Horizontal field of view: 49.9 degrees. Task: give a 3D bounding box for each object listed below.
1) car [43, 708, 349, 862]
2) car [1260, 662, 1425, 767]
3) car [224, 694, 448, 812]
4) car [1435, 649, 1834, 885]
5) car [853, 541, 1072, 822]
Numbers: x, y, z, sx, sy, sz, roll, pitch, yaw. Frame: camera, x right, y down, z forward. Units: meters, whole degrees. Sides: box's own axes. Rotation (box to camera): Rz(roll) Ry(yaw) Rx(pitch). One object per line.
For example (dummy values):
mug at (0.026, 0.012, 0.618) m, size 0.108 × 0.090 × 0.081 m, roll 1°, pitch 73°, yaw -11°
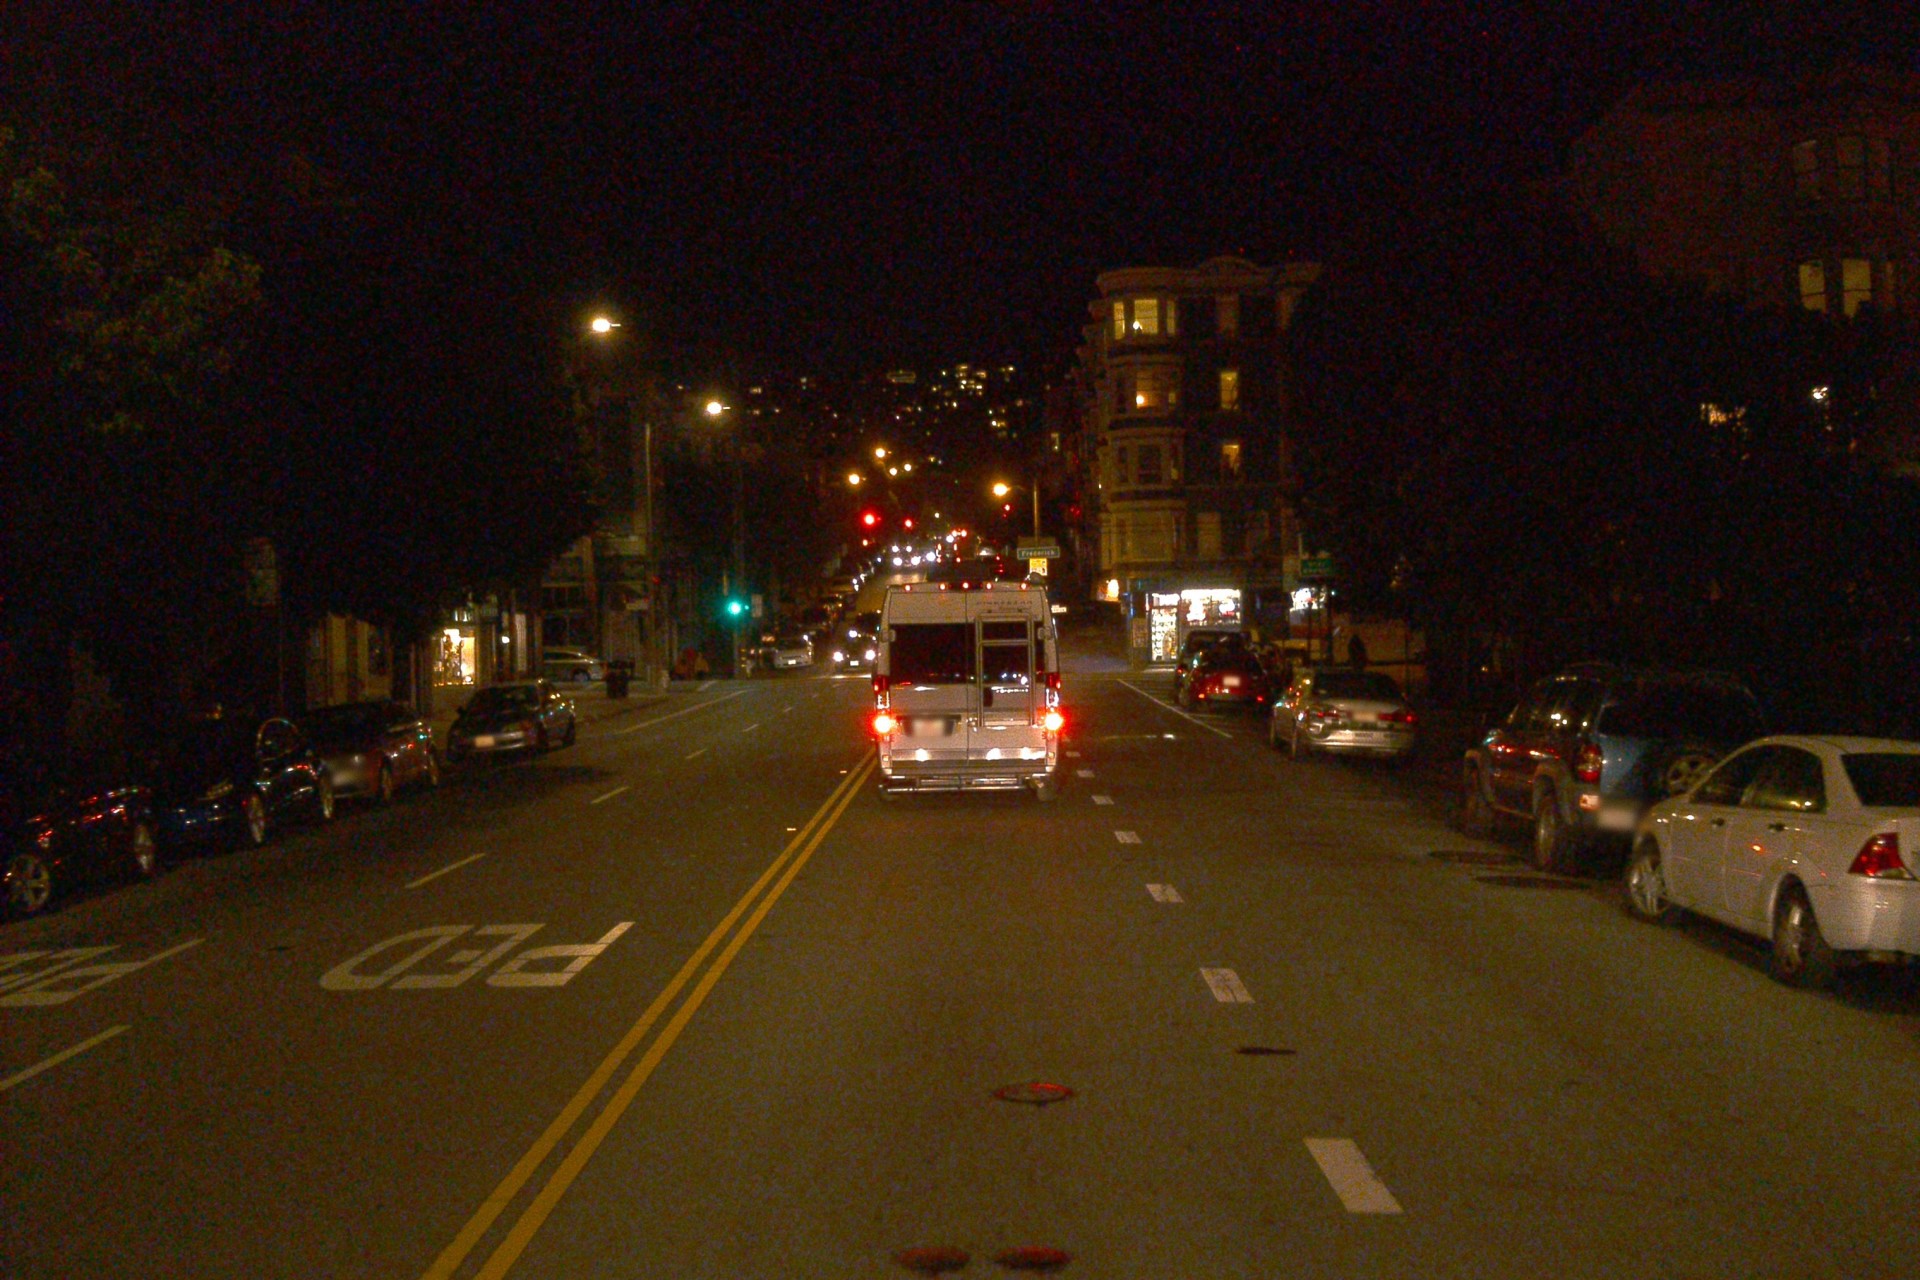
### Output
car at (-8.558, 1.568, 23.591) m, size 2.015 × 1.420 × 4.619 m, roll 0°, pitch 0°, yaw -3°
car at (5.824, 1.088, 31.948) m, size 1.867 × 1.430 × 4.637 m, roll 0°, pitch 0°, yaw 2°
car at (-8.611, 1.520, 28.906) m, size 1.956 × 1.390 × 4.390 m, roll 0°, pitch 0°, yaw -2°
car at (5.911, 1.019, 18.801) m, size 2.265 × 1.840 × 4.685 m, roll 0°, pitch 0°, yaw 2°
car at (0.071, 0.431, 24.594) m, size 2.338 × 3.000 × 5.110 m, roll 0°, pitch 0°, yaw 1°
